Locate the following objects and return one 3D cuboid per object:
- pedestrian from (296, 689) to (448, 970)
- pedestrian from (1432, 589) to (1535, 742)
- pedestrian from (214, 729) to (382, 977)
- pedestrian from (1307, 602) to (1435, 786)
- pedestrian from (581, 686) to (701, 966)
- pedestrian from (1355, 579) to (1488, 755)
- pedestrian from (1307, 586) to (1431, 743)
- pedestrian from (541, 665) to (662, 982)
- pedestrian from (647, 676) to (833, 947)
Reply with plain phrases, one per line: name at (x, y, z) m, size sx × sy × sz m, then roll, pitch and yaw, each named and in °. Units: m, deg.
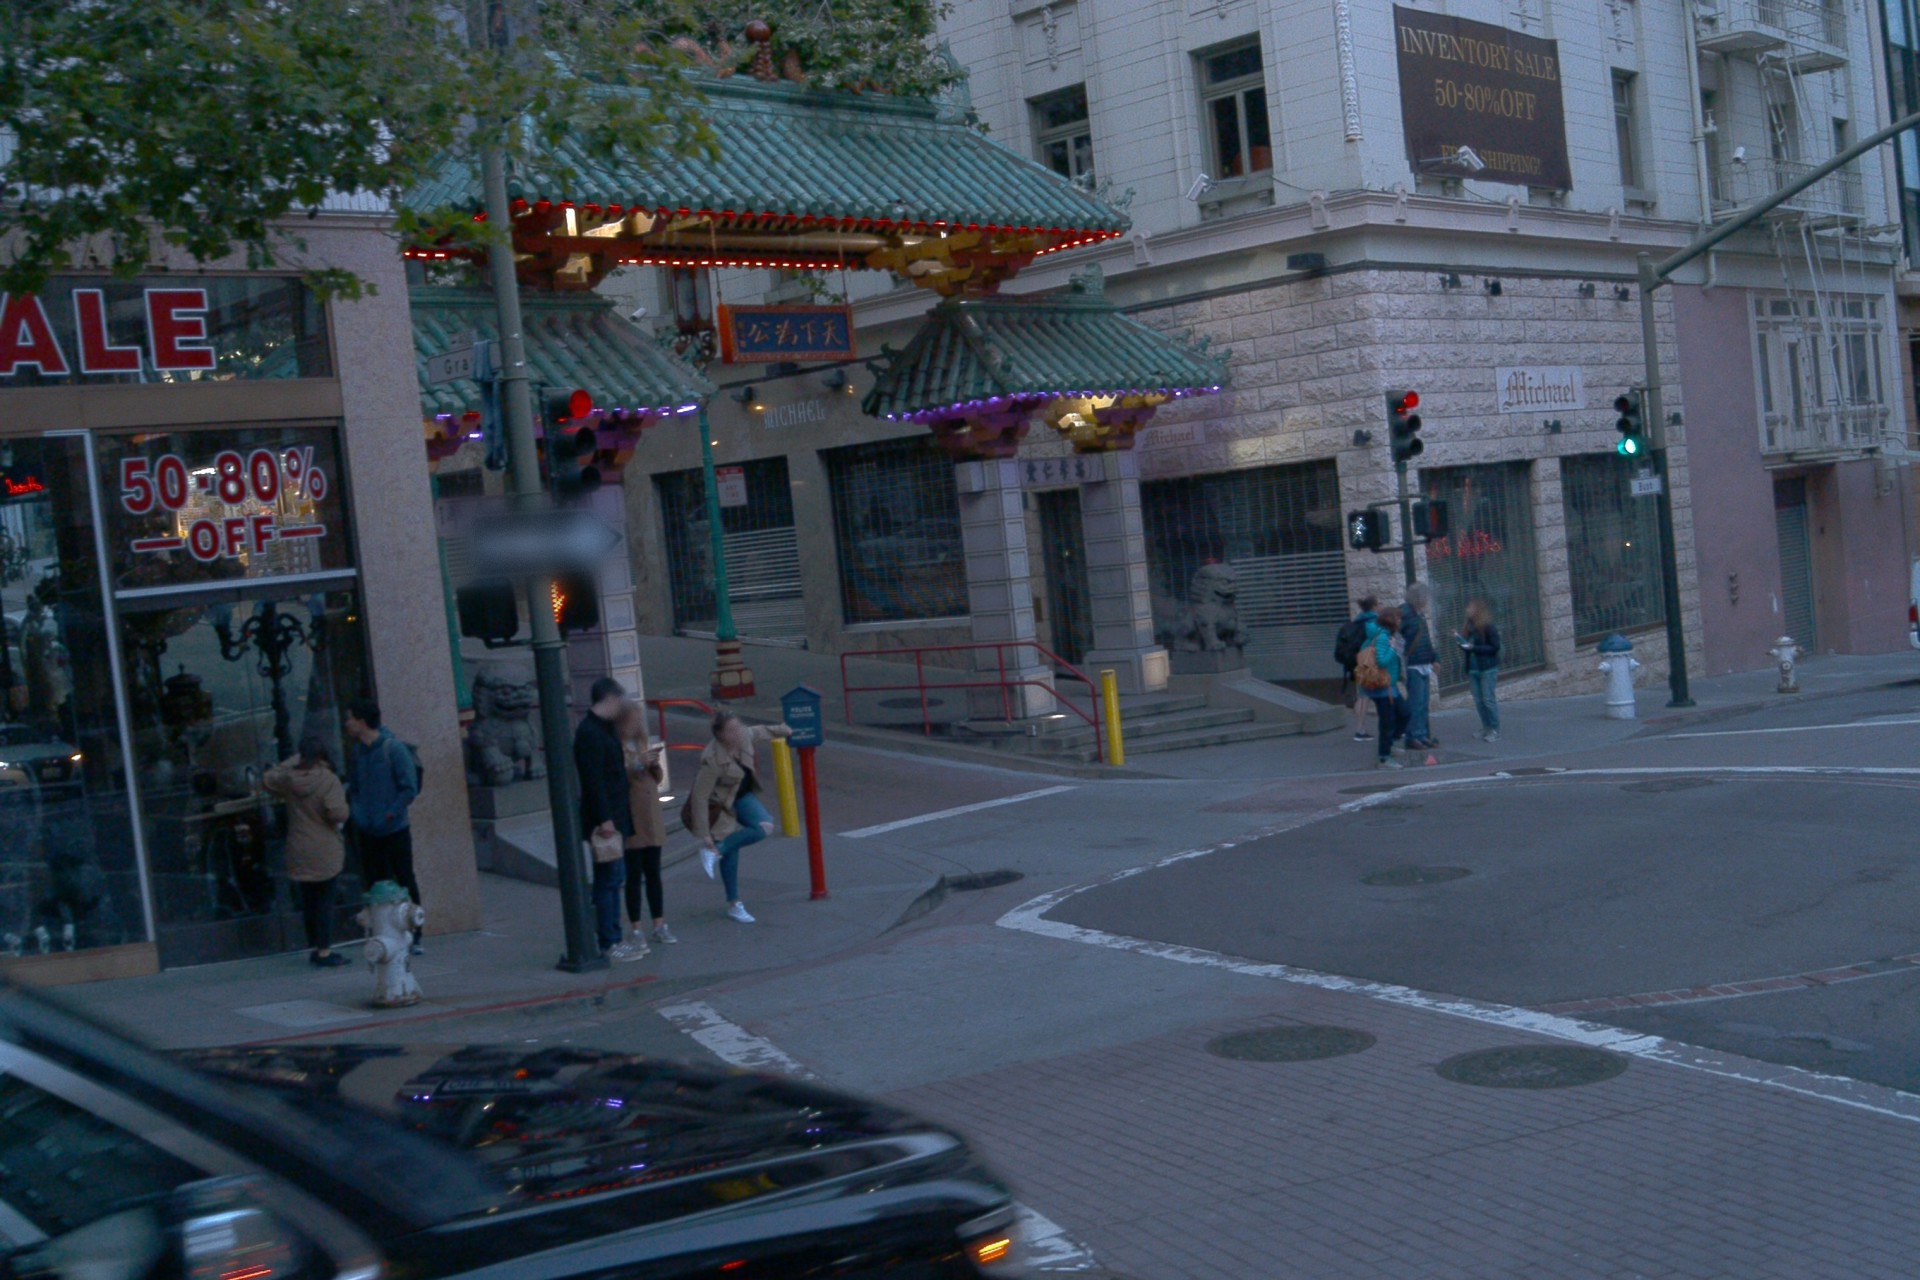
pedestrian at (-4.127, 1.299, 14.502) m, size 0.716 × 1.880 × 0.724 m, roll 0°, pitch 1°, yaw 28°
pedestrian at (5.815, 0.270, 22.946) m, size 0.822 × 1.660 × 0.750 m, roll -1°, pitch 1°, yaw -32°
pedestrian at (-4.490, 1.423, 14.031) m, size 0.788 × 1.580 × 0.744 m, roll 0°, pitch 1°, yaw 17°
pedestrian at (4.272, 0.533, 21.441) m, size 0.927 × 1.850 × 0.934 m, roll -1°, pitch 1°, yaw -41°
pedestrian at (-2.238, 1.277, 14.491) m, size 0.531 × 1.880 × 0.638 m, roll 0°, pitch 1°, yaw 39°
pedestrian at (4.916, 0.270, 21.998) m, size 0.964 × 1.820 × 1.000 m, roll -1°, pitch 1°, yaw -41°
pedestrian at (4.594, 0.256, 23.201) m, size 0.989 × 1.710 × 0.971 m, roll -1°, pitch 1°, yaw -43°
pedestrian at (-2.423, 1.211, 13.976) m, size 0.546 × 2.070 × 0.609 m, roll 0°, pitch 1°, yaw 24°
pedestrian at (-1.624, 1.230, 15.306) m, size 0.817 × 1.880 × 1.093 m, roll 1°, pitch 1°, yaw 42°
